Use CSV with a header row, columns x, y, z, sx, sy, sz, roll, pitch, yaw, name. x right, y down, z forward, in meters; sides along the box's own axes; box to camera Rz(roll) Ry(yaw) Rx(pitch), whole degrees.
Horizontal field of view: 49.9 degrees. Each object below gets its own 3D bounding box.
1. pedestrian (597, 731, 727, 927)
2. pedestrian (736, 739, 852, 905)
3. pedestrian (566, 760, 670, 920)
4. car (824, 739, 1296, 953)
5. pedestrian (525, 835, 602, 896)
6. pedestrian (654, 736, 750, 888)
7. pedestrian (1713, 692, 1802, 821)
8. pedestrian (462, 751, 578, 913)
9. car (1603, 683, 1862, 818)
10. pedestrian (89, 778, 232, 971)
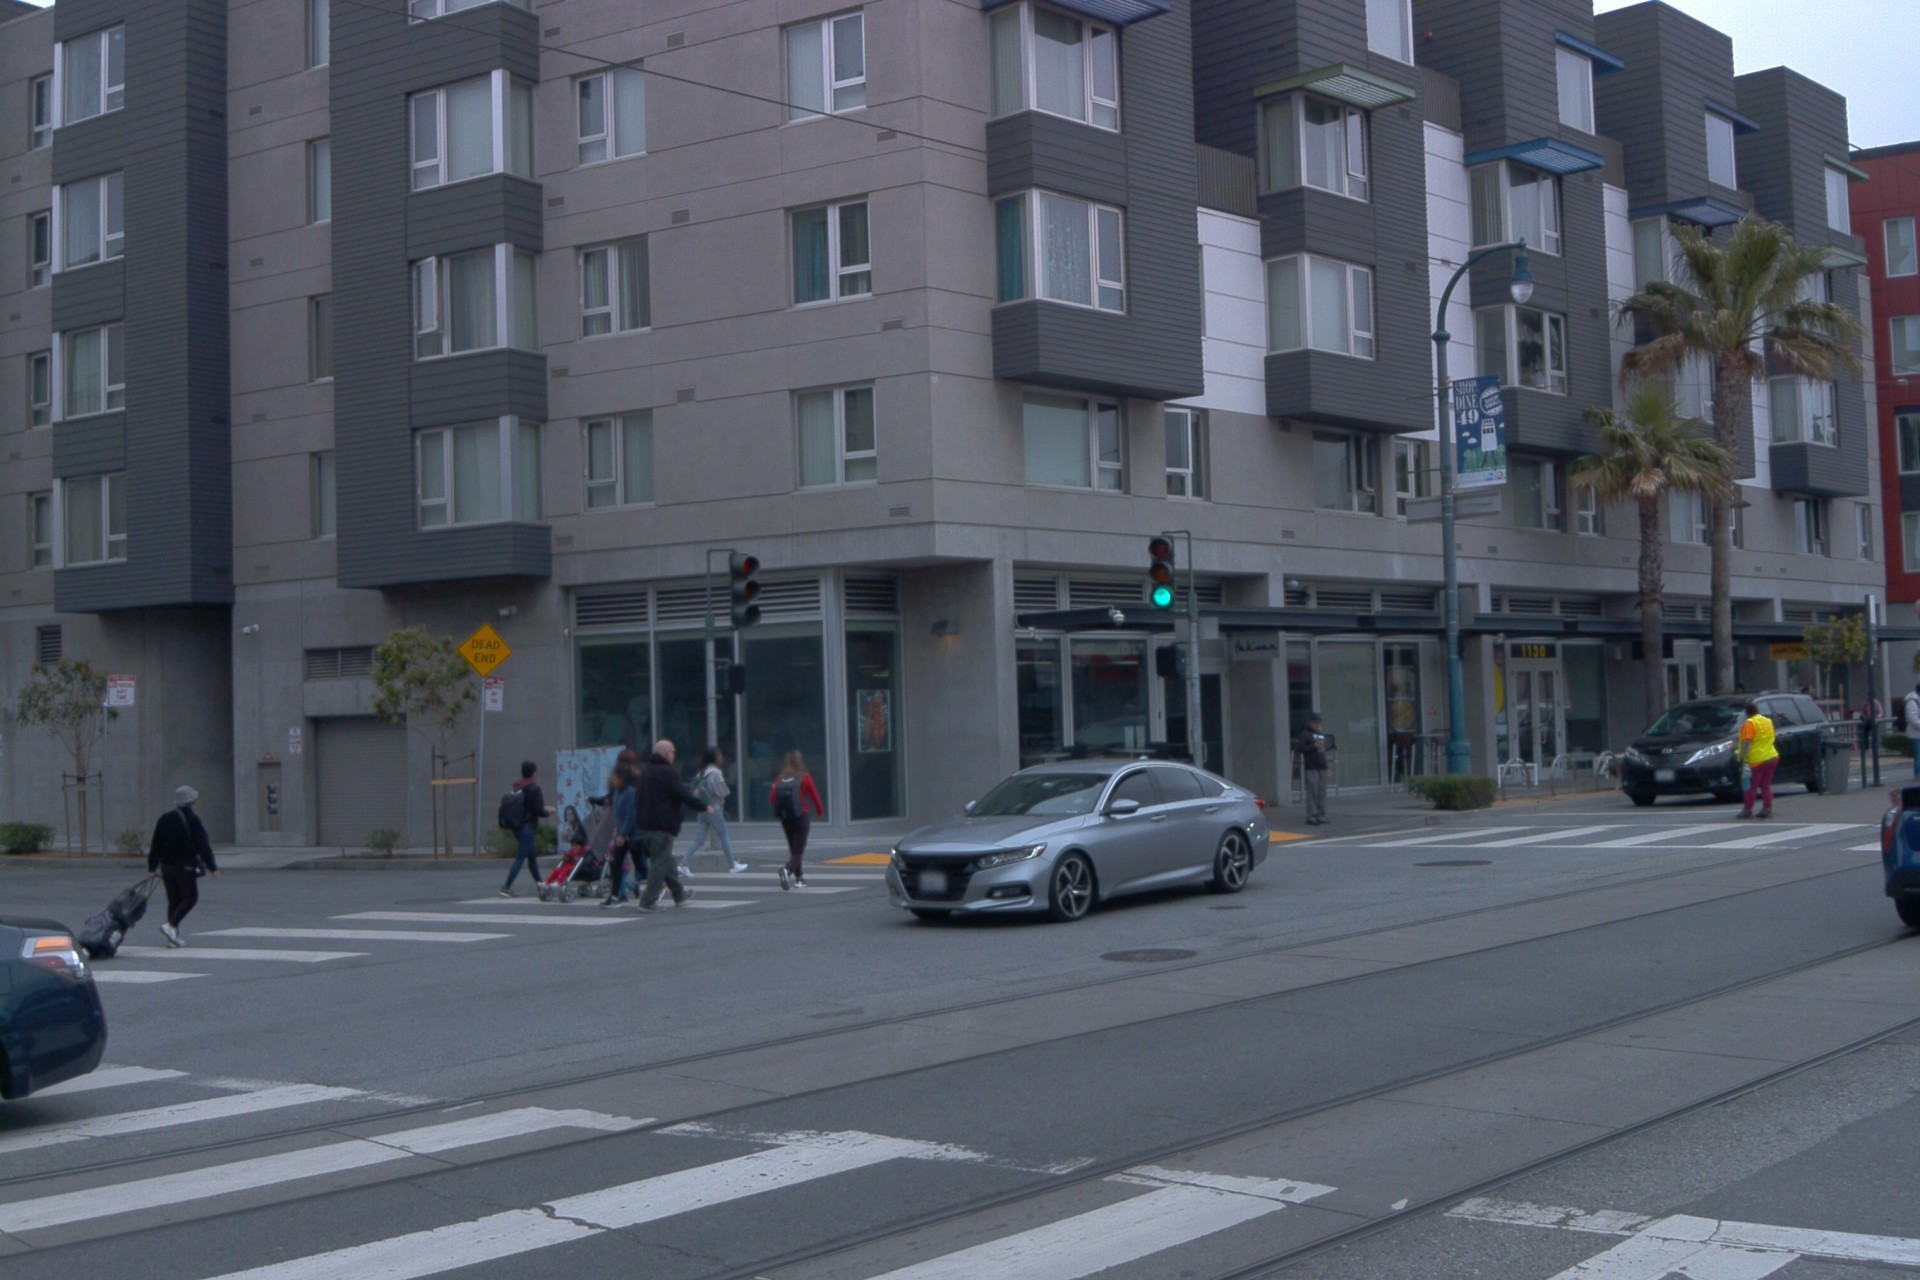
x,y,z,sx,sy,sz,roll,pitch,yaw,name
-3.116,1.948,21.610,0.906,1.900,0.990,1,1,43,pedestrian
-1.864,2.024,23.250,0.886,1.730,0.982,1,1,31,pedestrian
-3.663,2.123,22.126,0.747,1.583,0.807,1,1,40,pedestrian
1.126,1.896,20.341,2.178,1.500,4.889,1,1,39,car
-4.409,2.500,22.944,0.540,0.573,0.641,1,1,40,pedestrian
-3.207,2.123,25.664,0.932,1.773,0.772,-1,1,-35,pedestrian
10.894,1.576,28.201,0.898,1.700,0.700,0,1,-11,pedestrian
-5.080,2.198,23.856,0.857,1.730,0.990,1,1,40,pedestrian
12.921,1.759,34.339,2.147,1.880,5.074,1,1,44,car
-7.672,2.219,19.824,0.806,1.690,0.985,1,1,33,pedestrian
